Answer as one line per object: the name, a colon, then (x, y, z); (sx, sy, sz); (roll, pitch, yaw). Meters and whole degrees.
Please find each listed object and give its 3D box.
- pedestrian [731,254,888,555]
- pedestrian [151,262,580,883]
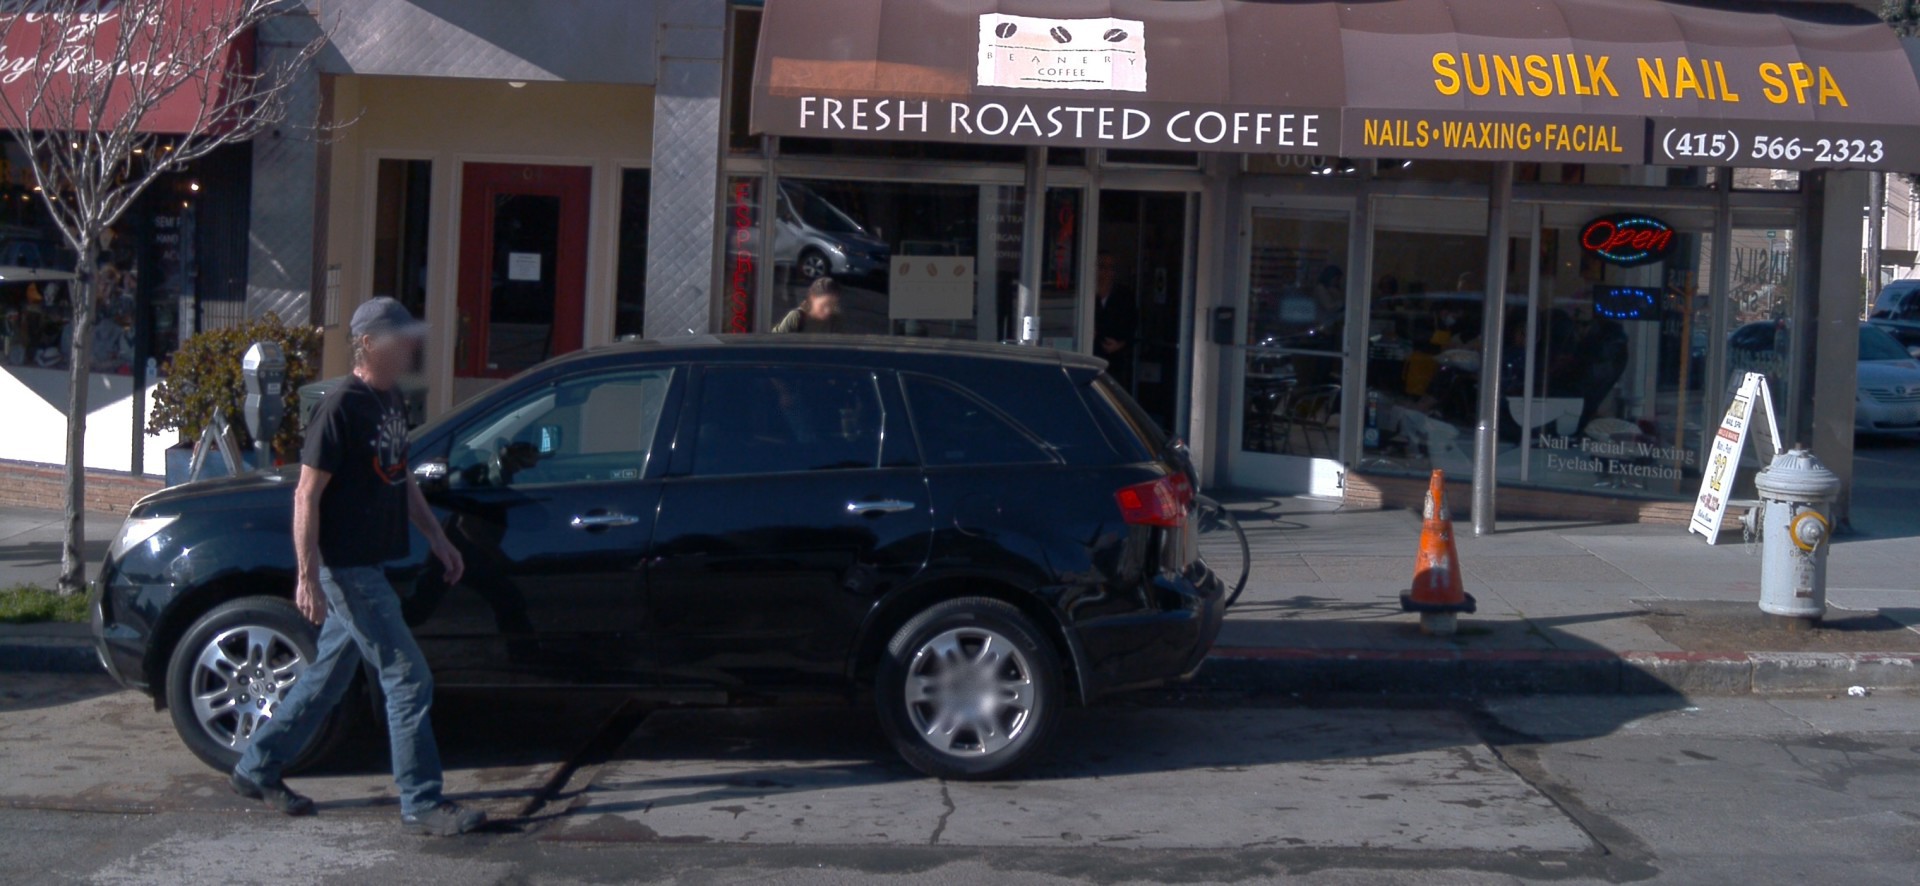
pedestrian: (-0.979, -0.288, 13.455); (0.688, 1.856, 0.750); (-1, 2, -39)
pedestrian: (-2.049, 0.388, 7.293); (1.189, 2.006, 0.879); (1, 2, 3)
